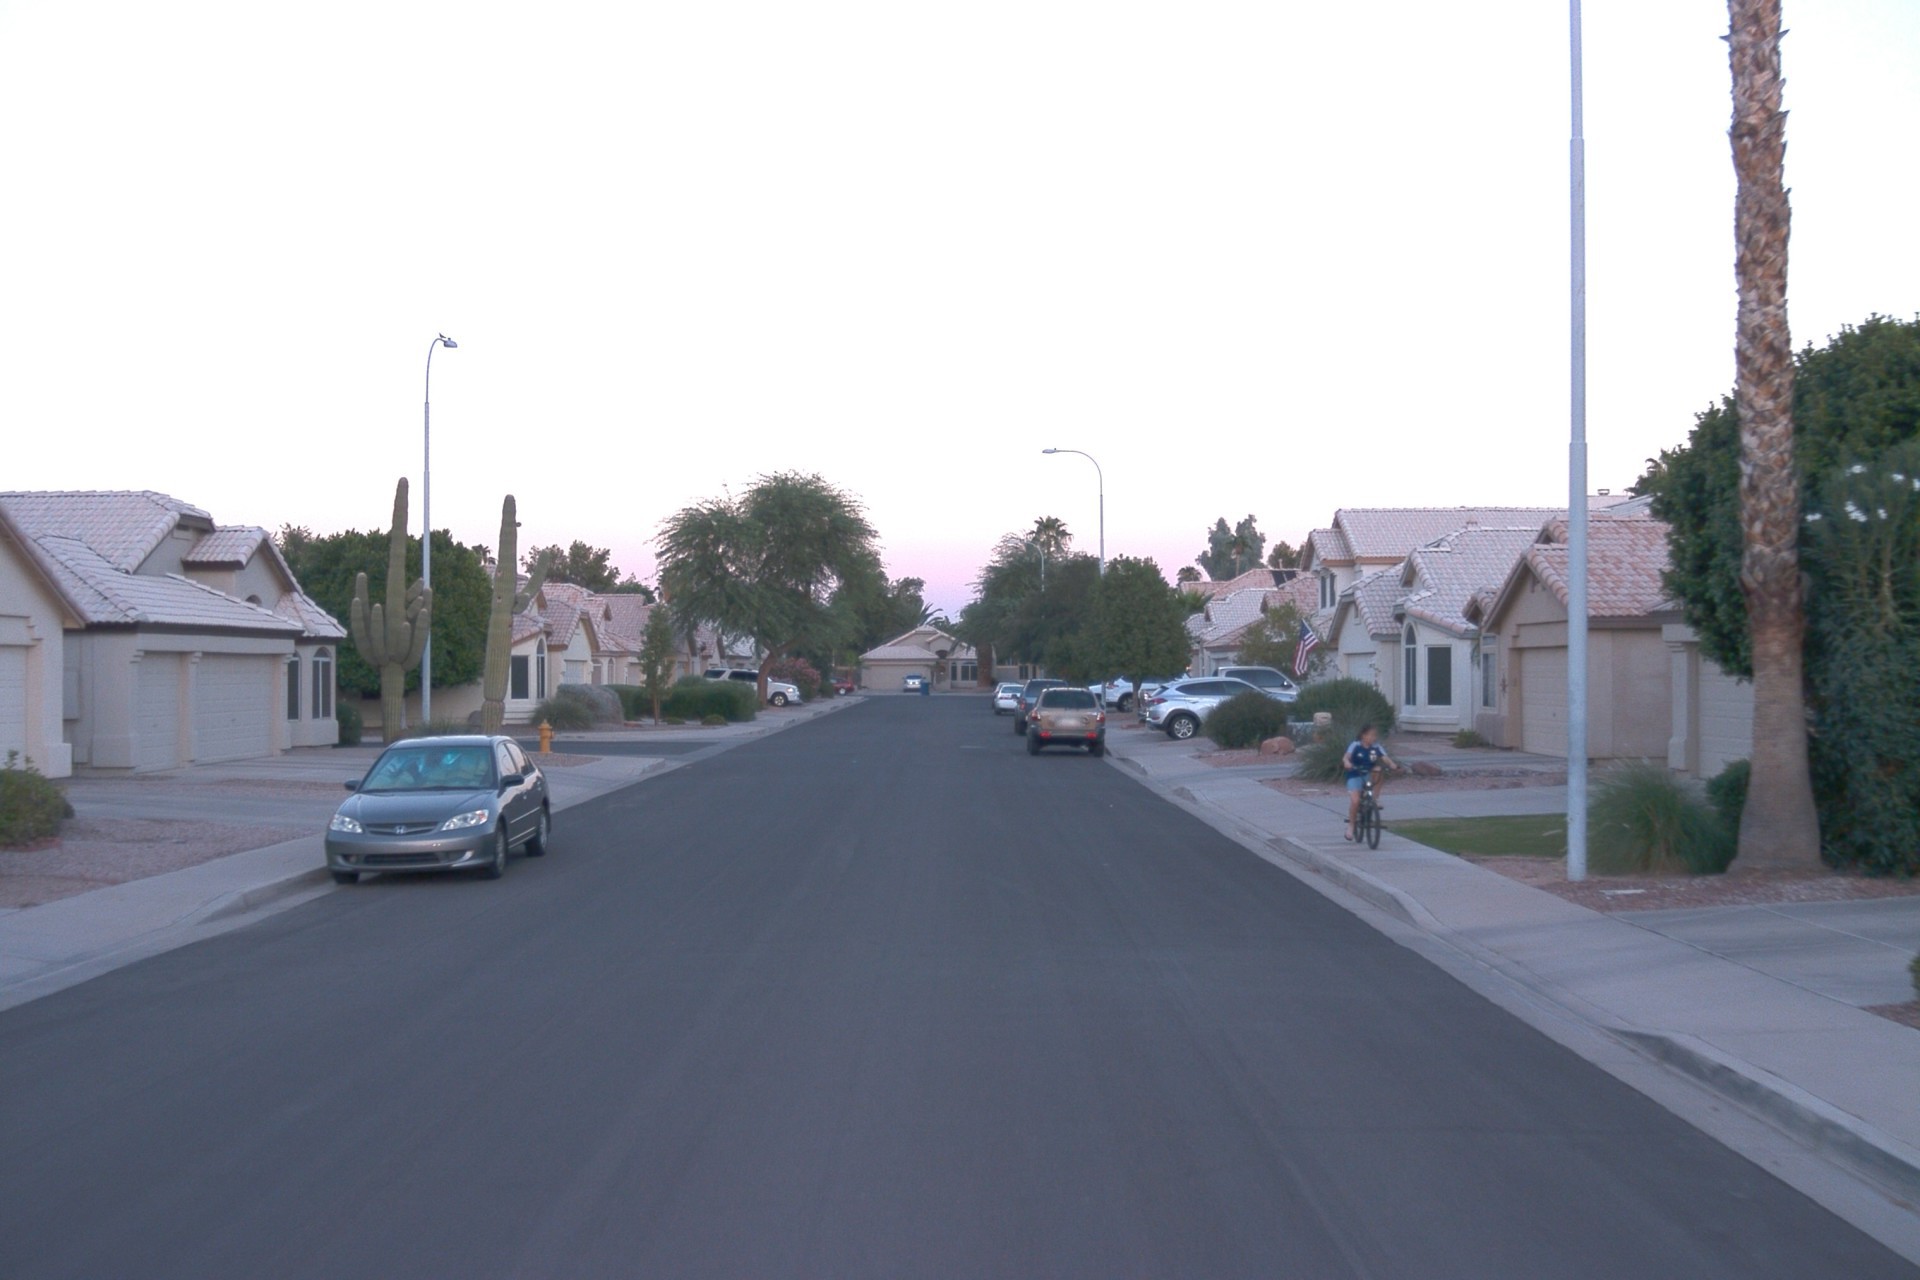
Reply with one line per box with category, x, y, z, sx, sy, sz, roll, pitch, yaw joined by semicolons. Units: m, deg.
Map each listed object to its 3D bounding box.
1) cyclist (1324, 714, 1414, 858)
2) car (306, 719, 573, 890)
cyclist;4.560;1.607;23.346;0.746;1.510;1.563;0;0;2
car;-5.526;1.698;22.760;1.908;1.540;4.629;0;-1;-2
